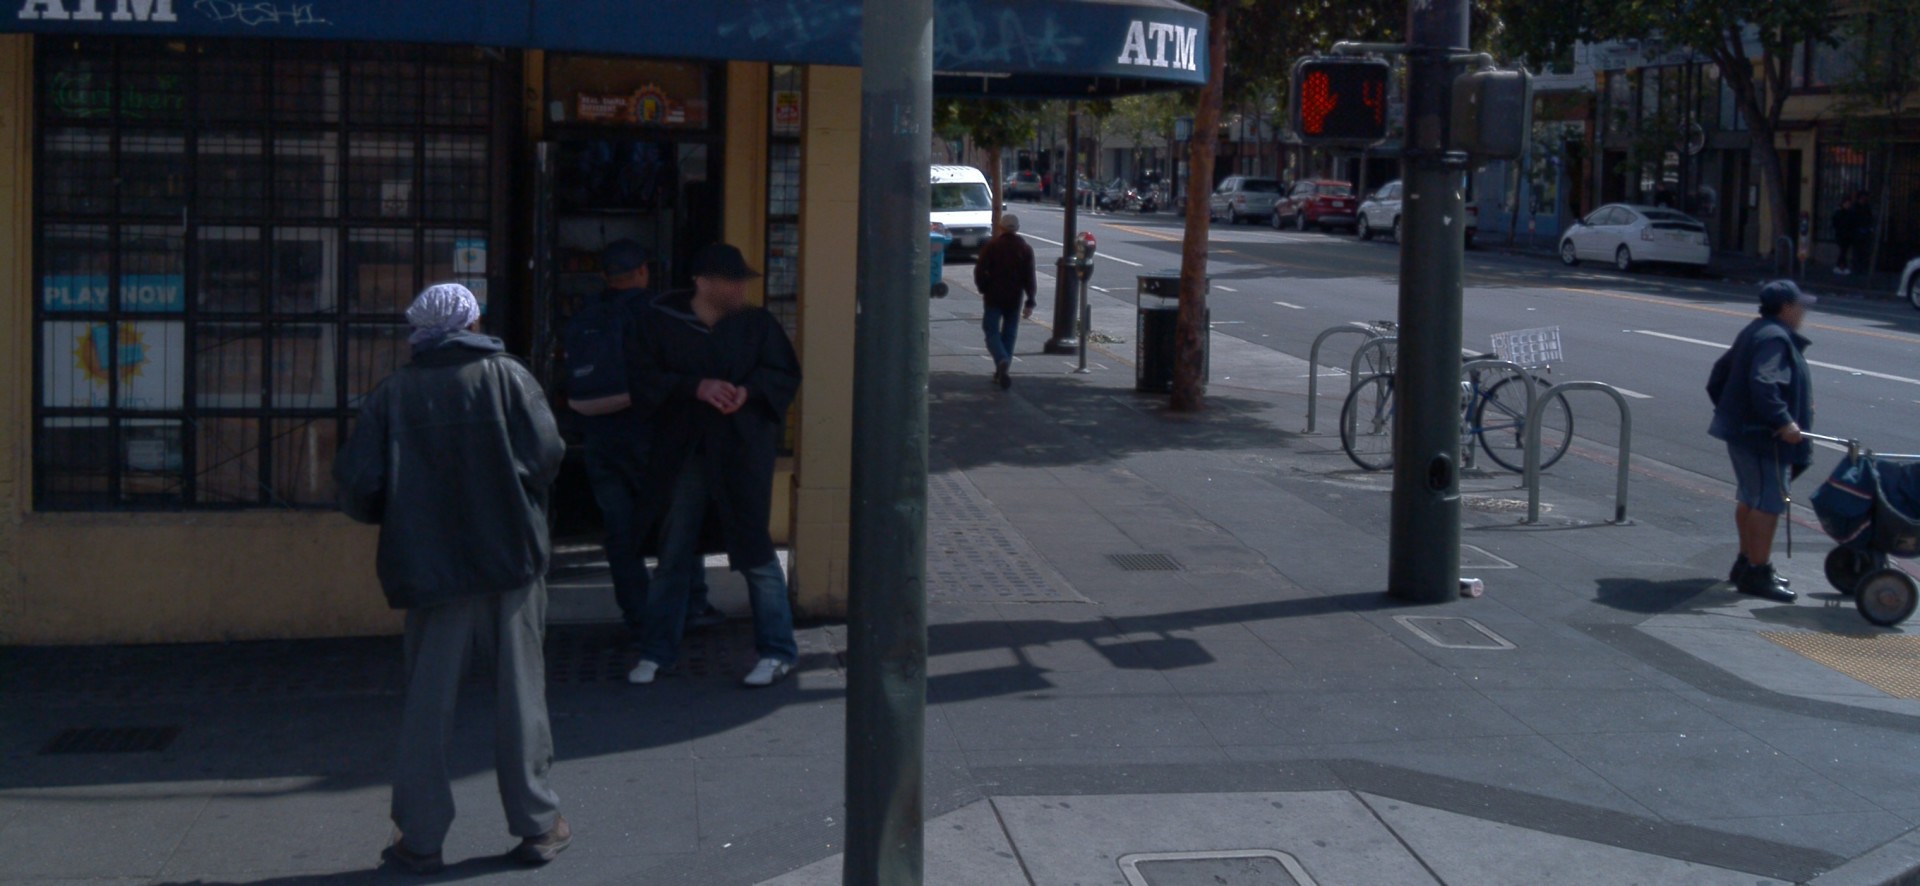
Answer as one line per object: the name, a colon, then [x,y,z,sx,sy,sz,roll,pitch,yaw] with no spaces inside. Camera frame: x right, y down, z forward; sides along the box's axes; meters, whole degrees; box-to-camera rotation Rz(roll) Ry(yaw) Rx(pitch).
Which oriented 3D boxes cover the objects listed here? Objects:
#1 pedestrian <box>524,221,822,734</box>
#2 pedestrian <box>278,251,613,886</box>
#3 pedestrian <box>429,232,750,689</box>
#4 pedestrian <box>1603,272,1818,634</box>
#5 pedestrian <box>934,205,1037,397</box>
pedestrian: [-1.107,0.077,8.163,0.992,1.909,0.965,0,1,4]
pedestrian: [-1.511,0.360,6.100,0.906,1.849,0.714,0,1,-13]
pedestrian: [-1.589,0.003,8.901,0.935,1.829,1.015,1,2,29]
pedestrian: [3.880,0.012,10.687,0.823,1.789,0.872,0,1,2]
pedestrian: [0.227,-1.335,19.085,0.798,1.729,1.083,0,2,-8]
